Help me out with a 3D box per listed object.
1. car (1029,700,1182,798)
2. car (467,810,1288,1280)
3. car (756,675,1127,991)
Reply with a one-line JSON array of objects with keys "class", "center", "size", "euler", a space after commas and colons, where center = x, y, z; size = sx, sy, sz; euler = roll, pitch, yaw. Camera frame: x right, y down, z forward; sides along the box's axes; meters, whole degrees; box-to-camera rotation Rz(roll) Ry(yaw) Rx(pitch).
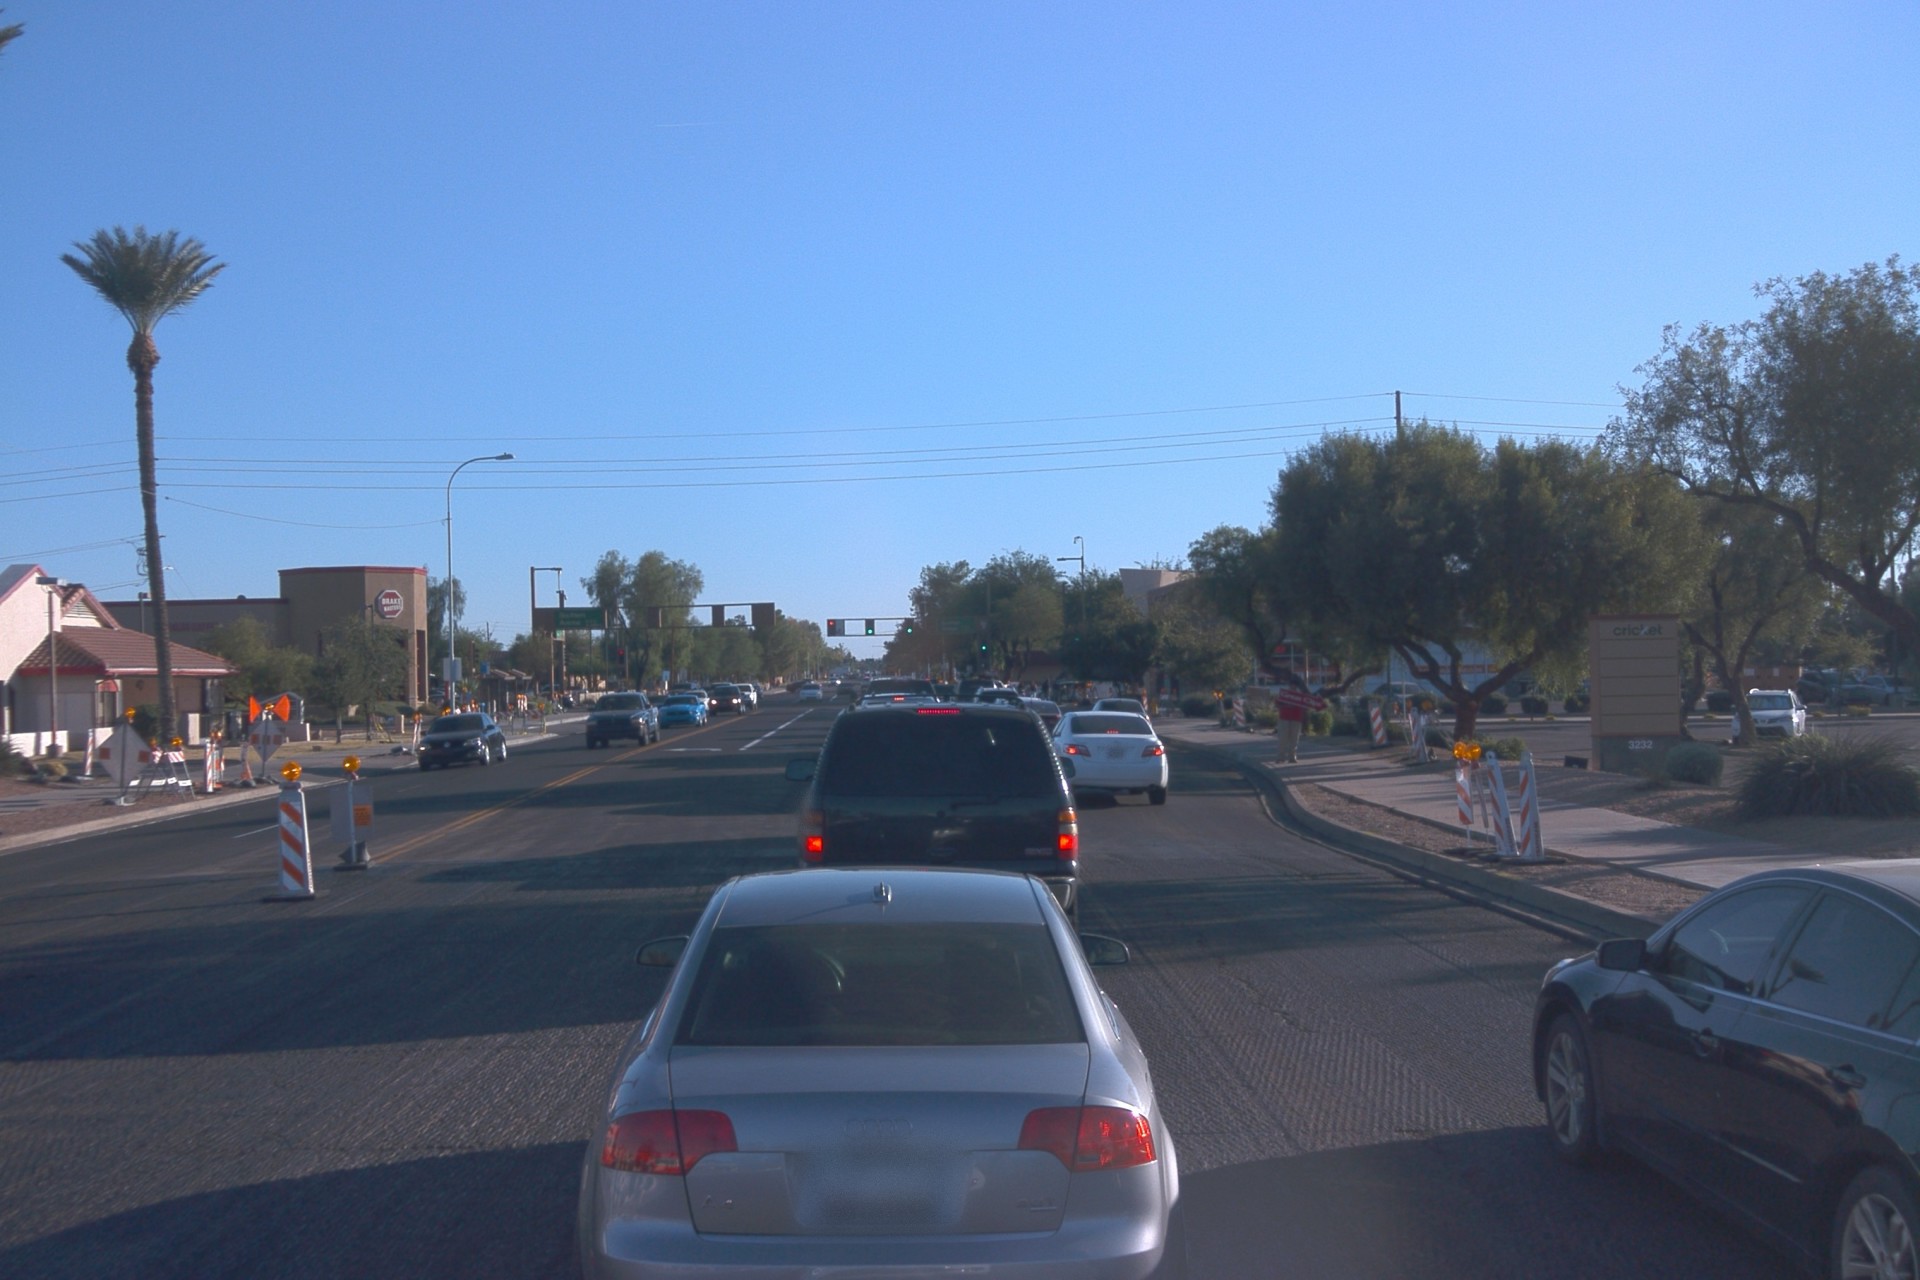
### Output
[{"class": "car", "center": [2.340, 1.773, 34.747], "size": [2.124, 1.470, 4.694], "euler": [0, -1, -1]}, {"class": "car", "center": [-0.268, 1.487, 7.355], "size": [2.033, 1.480, 4.404], "euler": [0, -1, -2]}, {"class": "car", "center": [-0.208, 1.293, 16.001], "size": [2.405, 2.040, 5.063], "euler": [0, -1, -2]}]
